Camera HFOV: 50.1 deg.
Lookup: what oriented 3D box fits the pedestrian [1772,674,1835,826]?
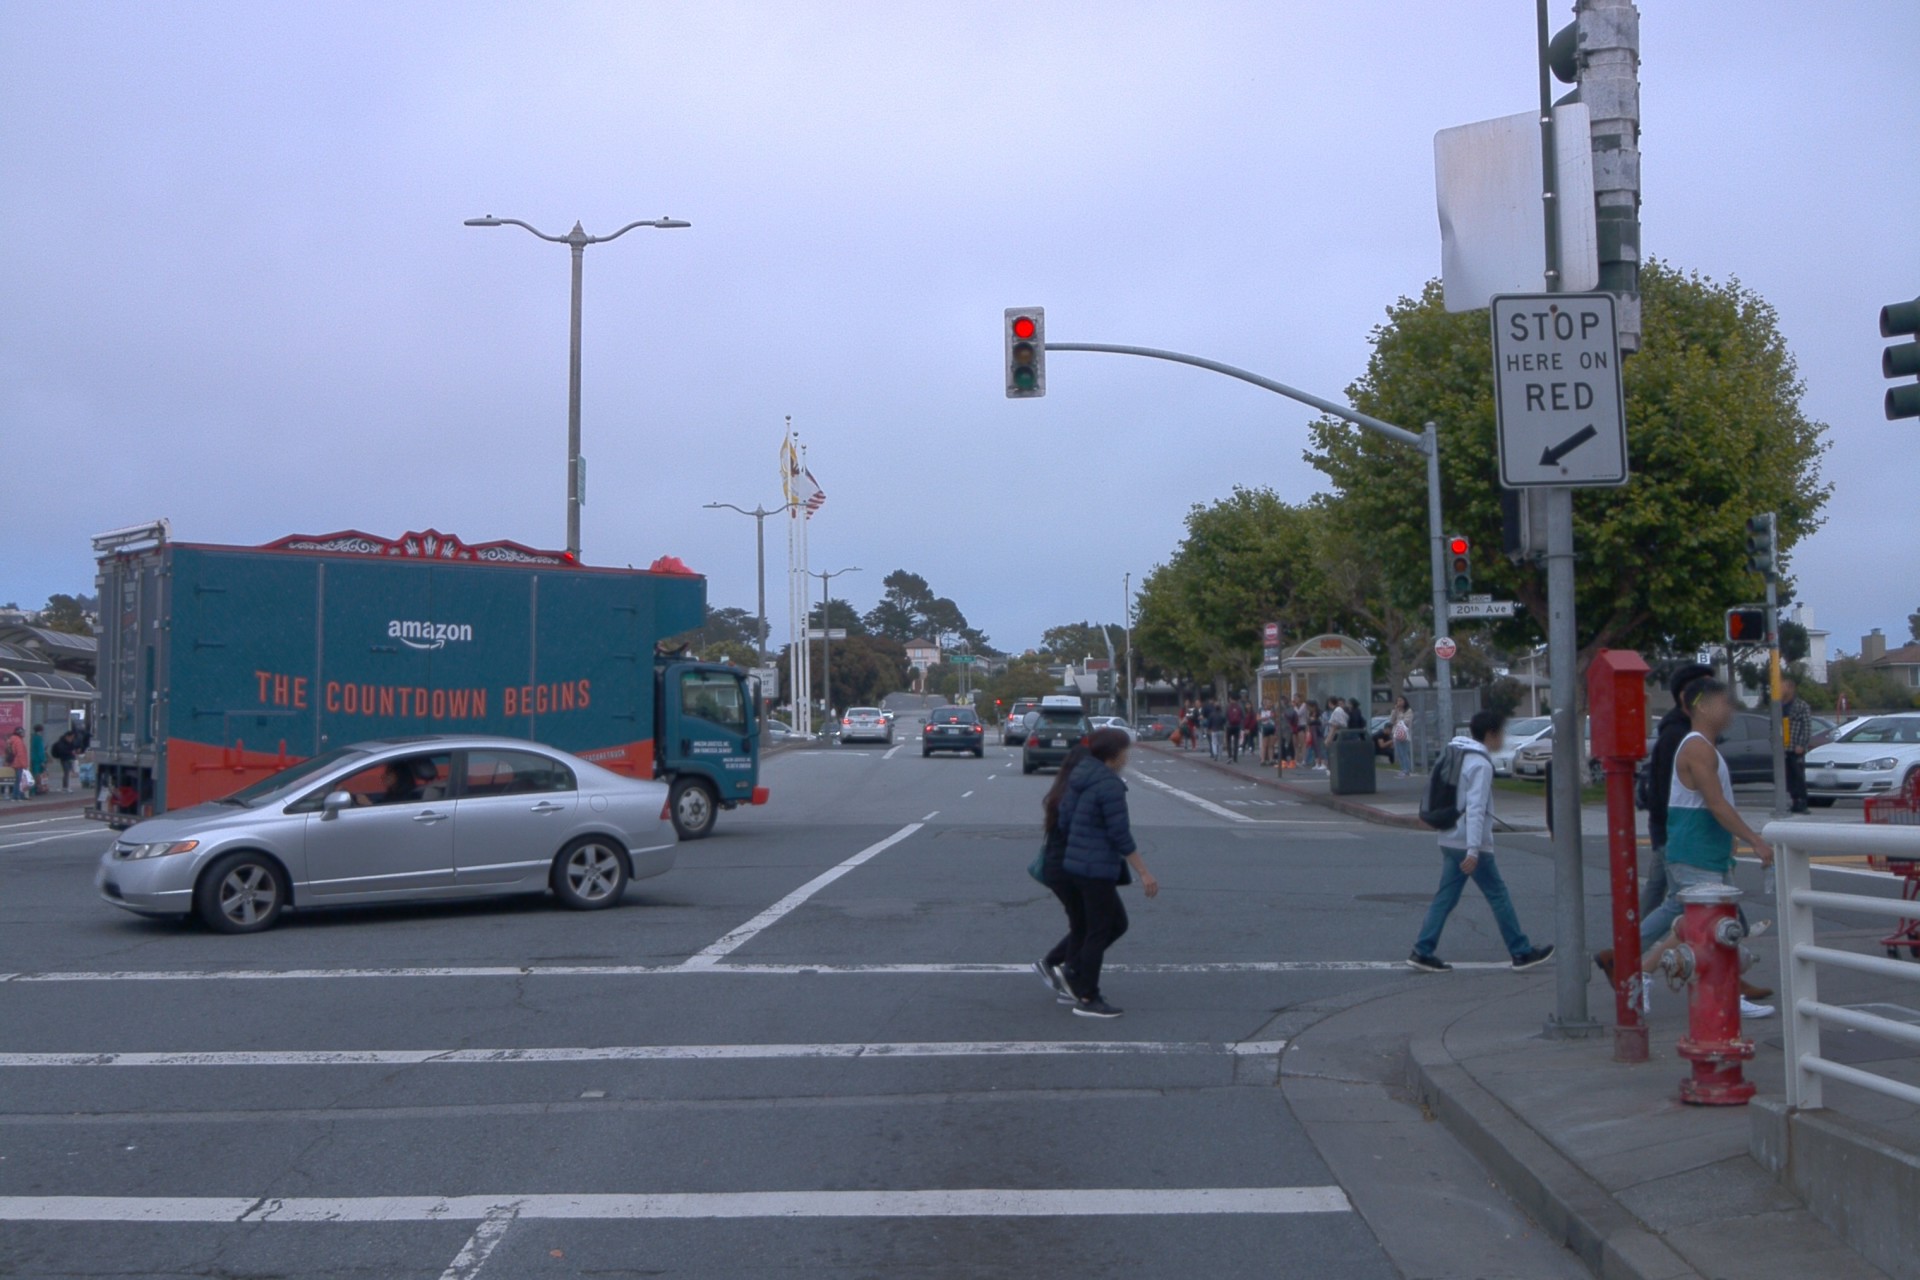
[{"bbox_3d":[10.814,1.393,26.373,0.619,1.900,0.741,0,1,13],"label":"pedestrian"}]

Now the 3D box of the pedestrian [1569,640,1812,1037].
[{"bbox_3d":[3.634,0.925,10.195,1.008,1.830,0.935,0,1,28],"label":"pedestrian"}]

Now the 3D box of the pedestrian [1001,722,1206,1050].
[{"bbox_3d":[0.752,1.286,10.987,0.994,1.650,0.667,0,1,-5],"label":"pedestrian"}]

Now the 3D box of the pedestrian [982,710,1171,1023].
[{"bbox_3d":[0.639,1.239,11.477,0.962,1.660,0.601,0,1,-6],"label":"pedestrian"}]

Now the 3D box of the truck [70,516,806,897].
[{"bbox_3d":[-5.944,0.615,24.335,7.879,3.840,3.011,-1,1,-39],"label":"truck"}]

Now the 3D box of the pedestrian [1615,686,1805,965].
[{"bbox_3d":[4.854,1.177,13.334,0.939,1.720,0.669,0,1,-11],"label":"pedestrian"}]

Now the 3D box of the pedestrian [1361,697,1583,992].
[{"bbox_3d":[3.076,1.201,12.436,1.050,1.670,0.927,0,1,-5],"label":"pedestrian"}]

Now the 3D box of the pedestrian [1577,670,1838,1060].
[{"bbox_3d":[3.459,0.986,9.499,1.017,1.670,0.735,0,1,30],"label":"pedestrian"}]

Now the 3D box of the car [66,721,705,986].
[{"bbox_3d":[-4.501,1.557,16.274,4.467,1.620,2.033,-1,1,-31],"label":"car"}]
